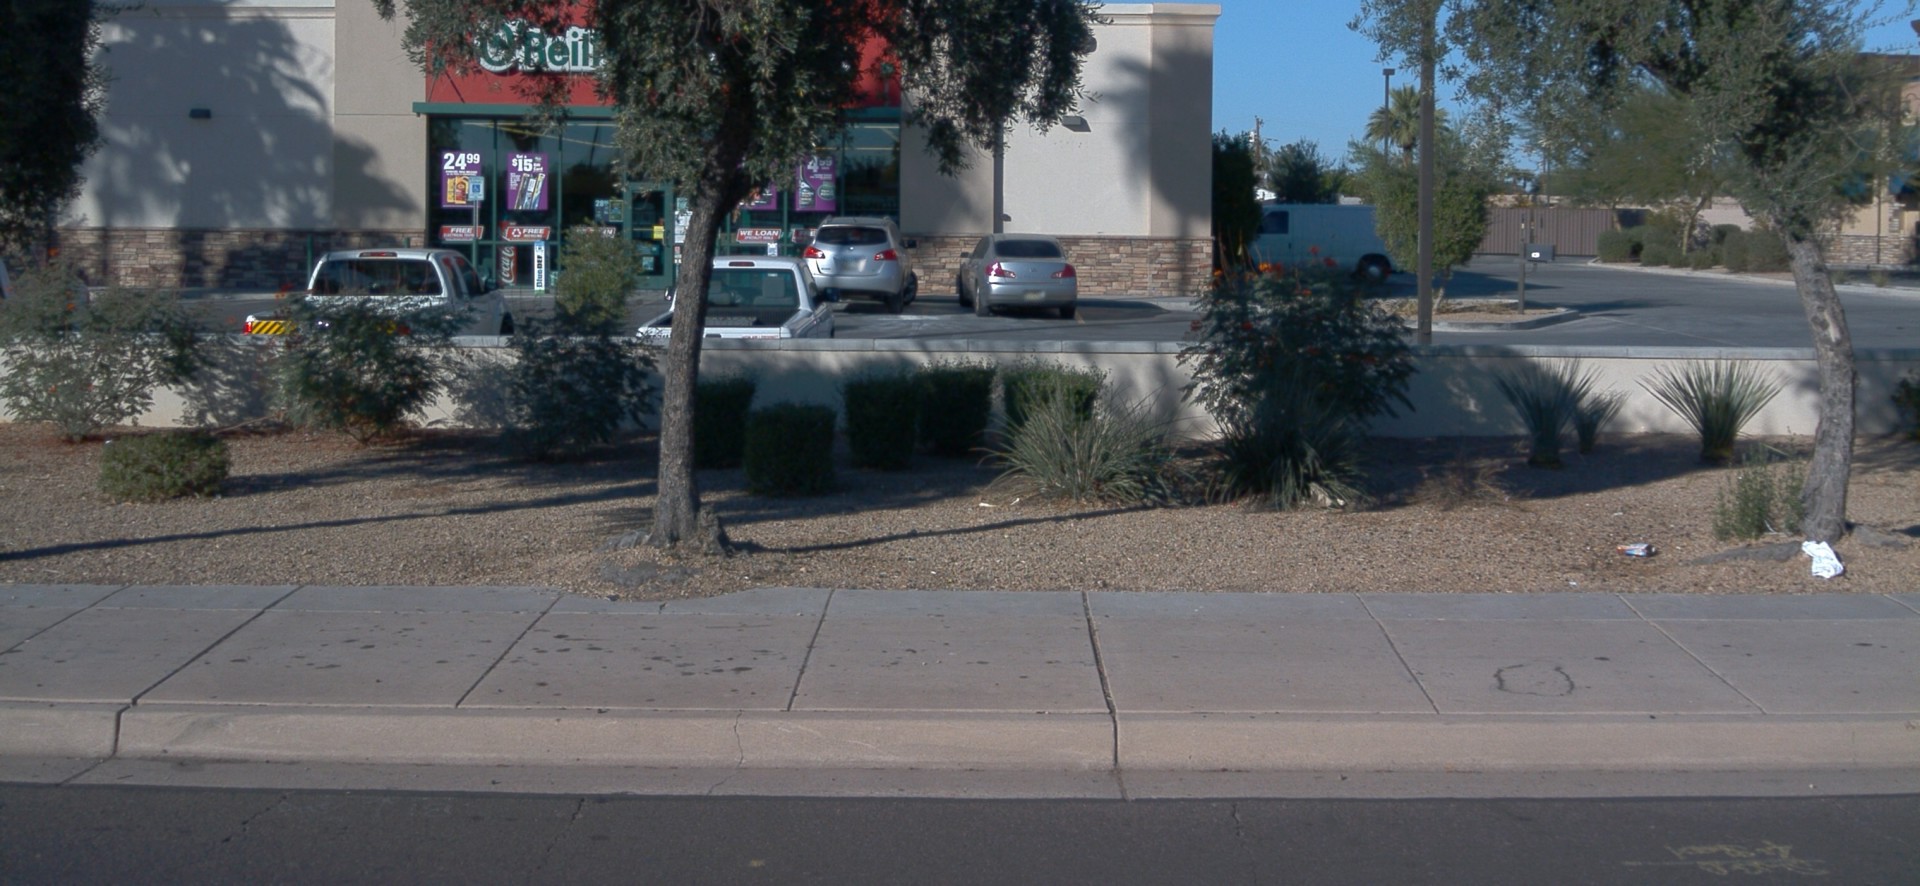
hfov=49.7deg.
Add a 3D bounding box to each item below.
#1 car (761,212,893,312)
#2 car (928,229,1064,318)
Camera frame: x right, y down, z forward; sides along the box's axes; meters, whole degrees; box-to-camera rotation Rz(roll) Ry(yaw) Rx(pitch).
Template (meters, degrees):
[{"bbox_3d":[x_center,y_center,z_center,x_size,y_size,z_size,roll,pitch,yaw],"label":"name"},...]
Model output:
[{"bbox_3d":[-2.311,-3.271,37.168,1.965,1.674,4.554,0,5,1],"label":"car"},{"bbox_3d":[0.572,-3.065,37.068,1.928,1.484,4.788,0,5,-5],"label":"car"}]
